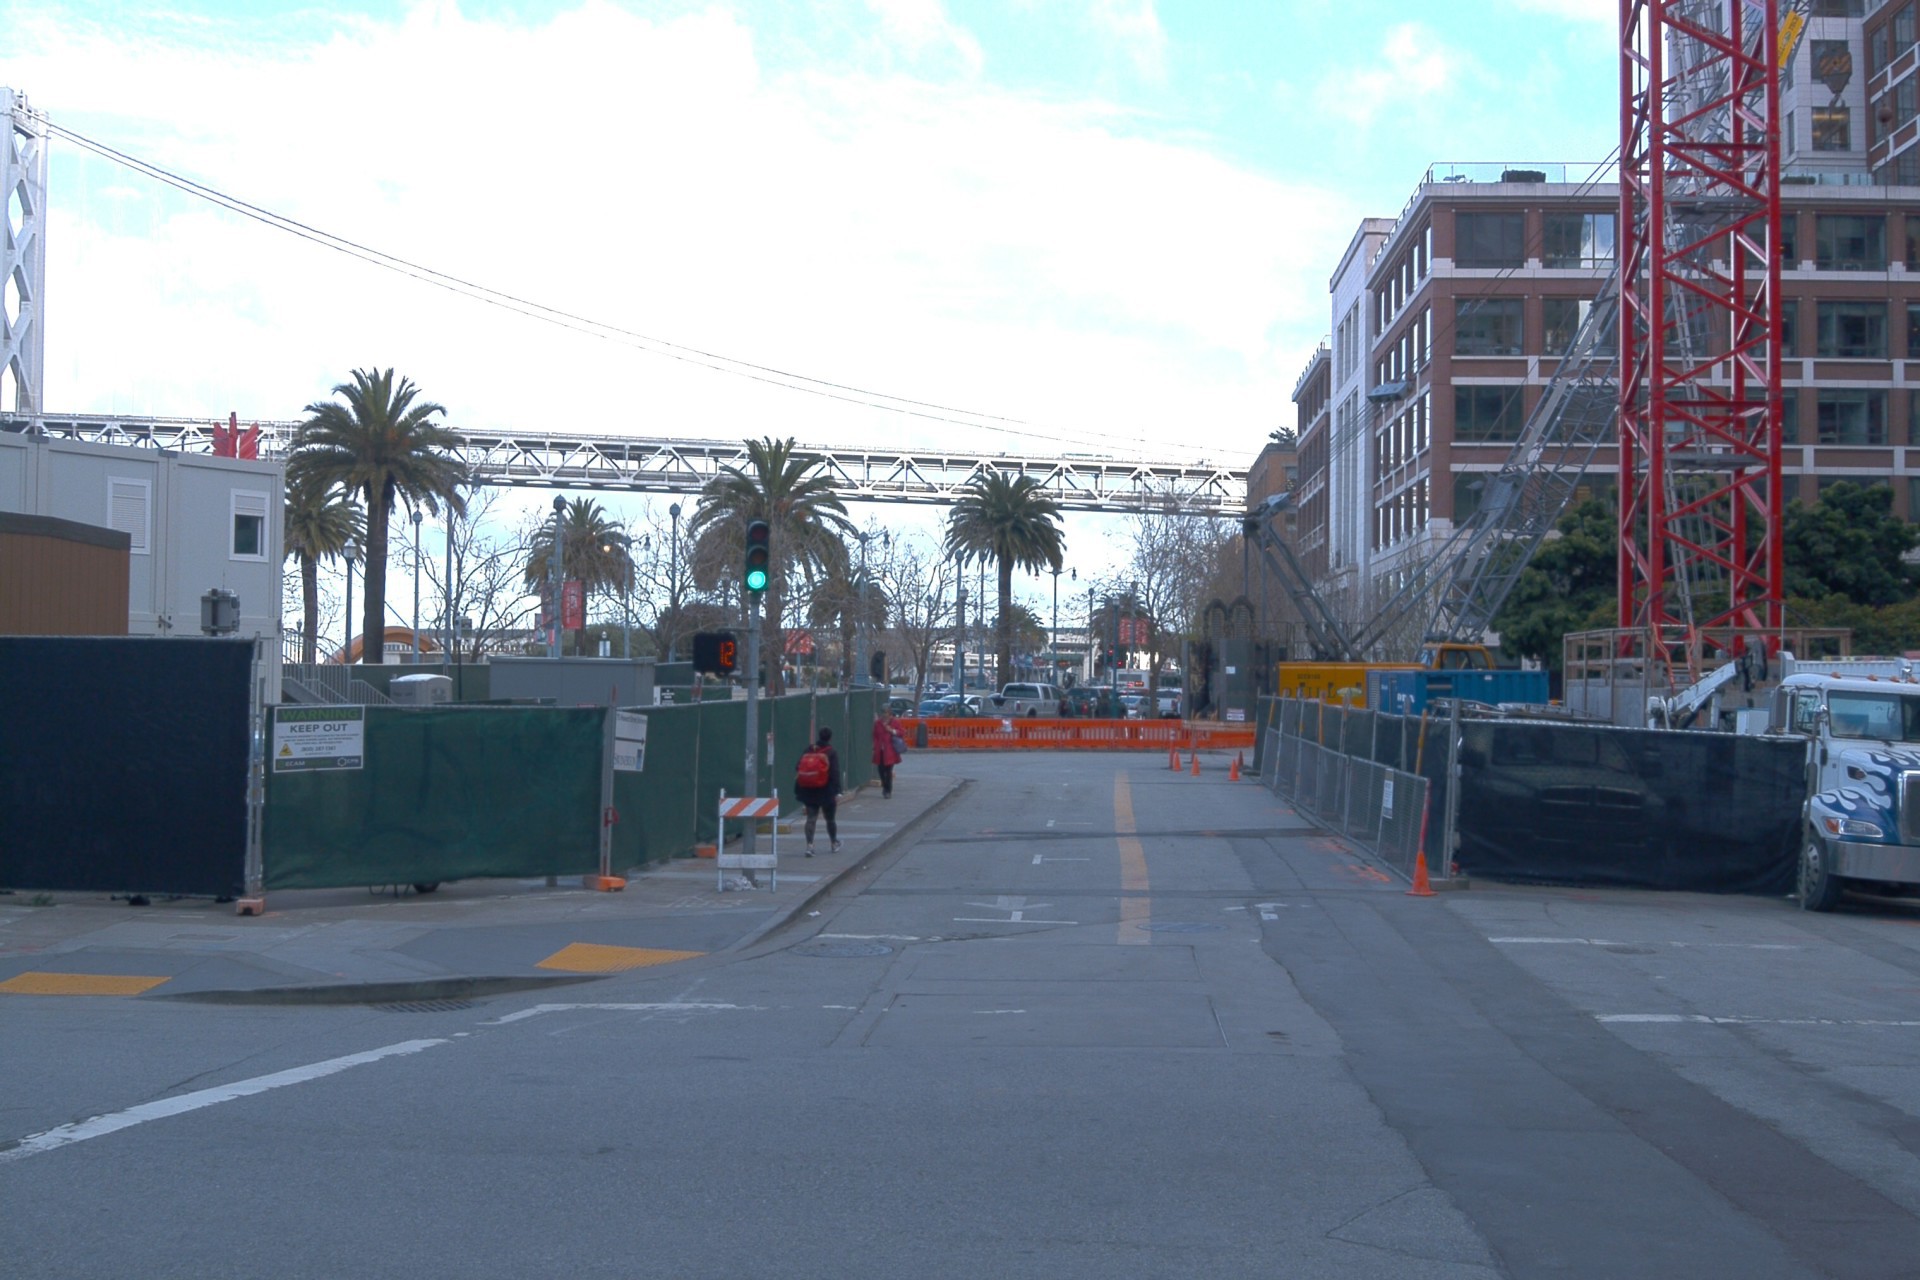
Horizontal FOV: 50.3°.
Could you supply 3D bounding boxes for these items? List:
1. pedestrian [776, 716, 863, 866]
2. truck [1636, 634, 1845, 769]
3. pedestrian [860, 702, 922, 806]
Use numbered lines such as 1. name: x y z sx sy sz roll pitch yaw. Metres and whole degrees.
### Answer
1. pedestrian: -1.737 1.858 25.507 0.771 1.760 1.197 1 0 12
2. truck: 9.772 0.711 25.885 1.127 1.550 4.267 1 0 2
3. pedestrian: -1.230 2.032 36.605 0.928 1.790 0.851 1 0 11
